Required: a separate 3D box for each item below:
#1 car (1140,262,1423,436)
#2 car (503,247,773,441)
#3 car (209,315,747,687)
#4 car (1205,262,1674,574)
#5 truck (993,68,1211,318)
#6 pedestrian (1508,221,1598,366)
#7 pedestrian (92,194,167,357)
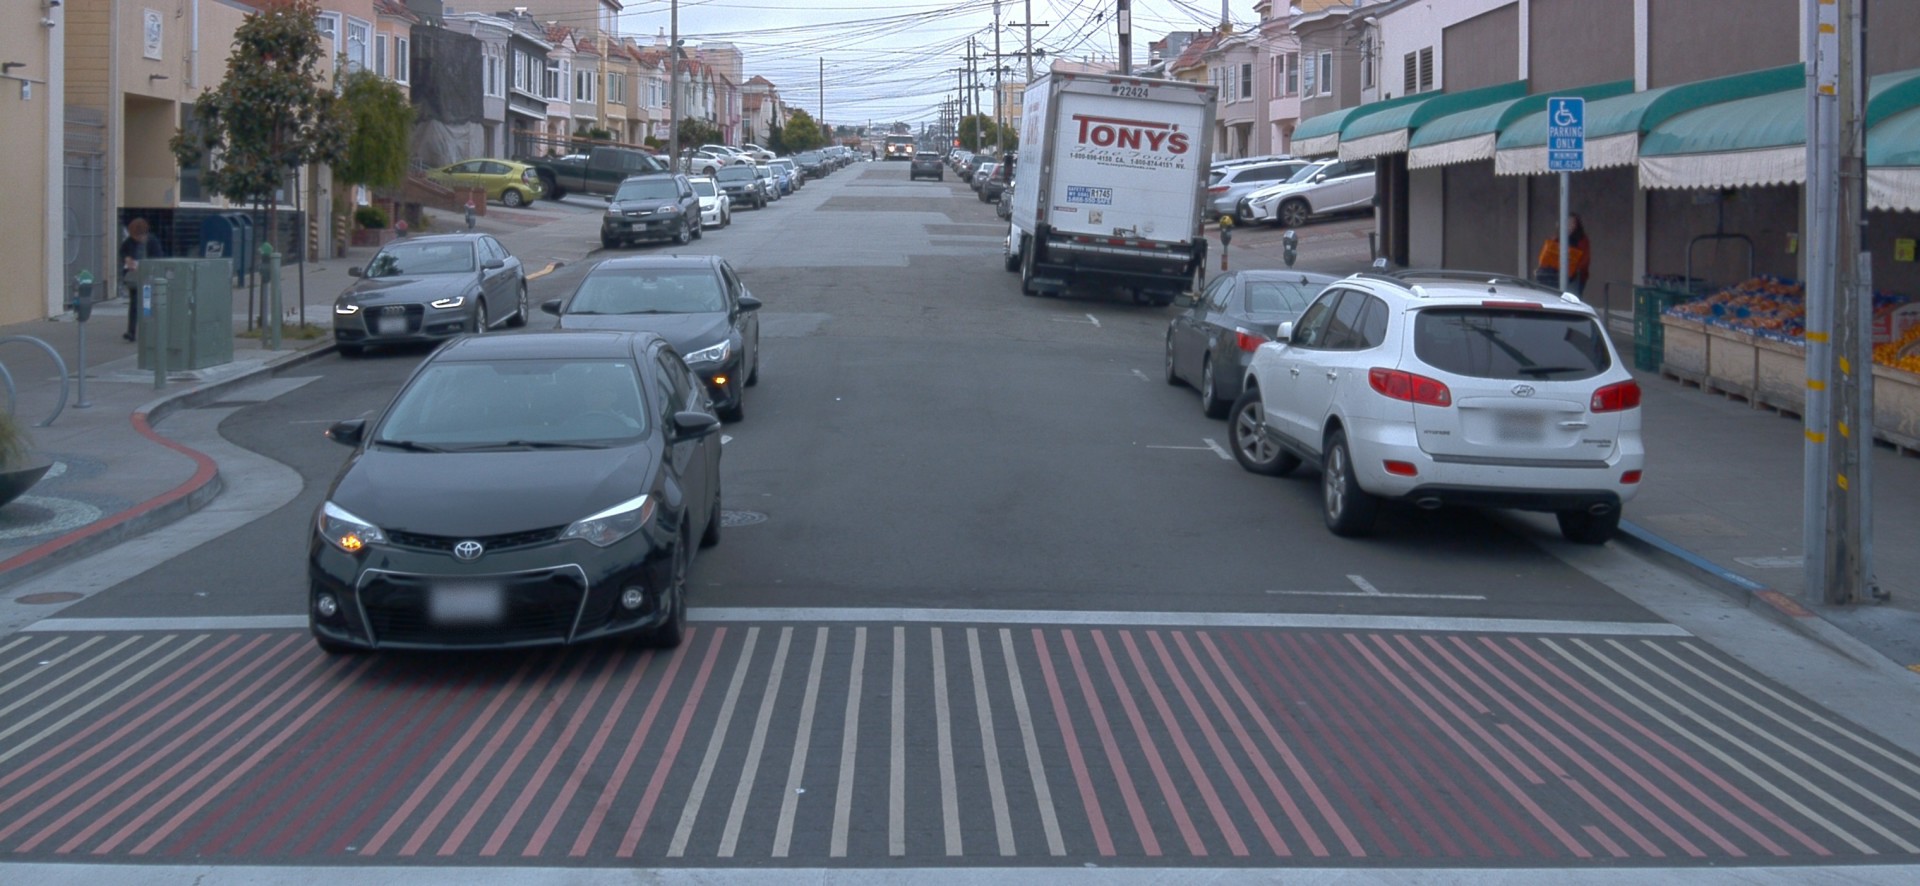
[{"bbox_3d":[3.166,-1.067,21.243,1.969,1.513,4.609,0,6,-3],"label":"car"},{"bbox_3d":[-3.034,-1.099,20.437,2.069,1.636,4.923,0,6,-2],"label":"car"},{"bbox_3d":[-2.365,0.114,11.389,2.053,1.433,4.596,0,6,-2],"label":"car"},{"bbox_3d":[3.240,-0.358,14.986,2.105,1.832,4.565,0,5,-4],"label":"car"},{"bbox_3d":[2.233,-4.325,36.220,2.914,3.770,10.115,0,5,-1],"label":"truck"},{"bbox_3d":[7.307,-1.861,25.348,0.722,1.737,0.889,2,3,44],"label":"pedestrian"},{"bbox_3d":[-10.472,-2.122,25.951,0.734,2.015,0.676,0,2,-9],"label":"pedestrian"}]
